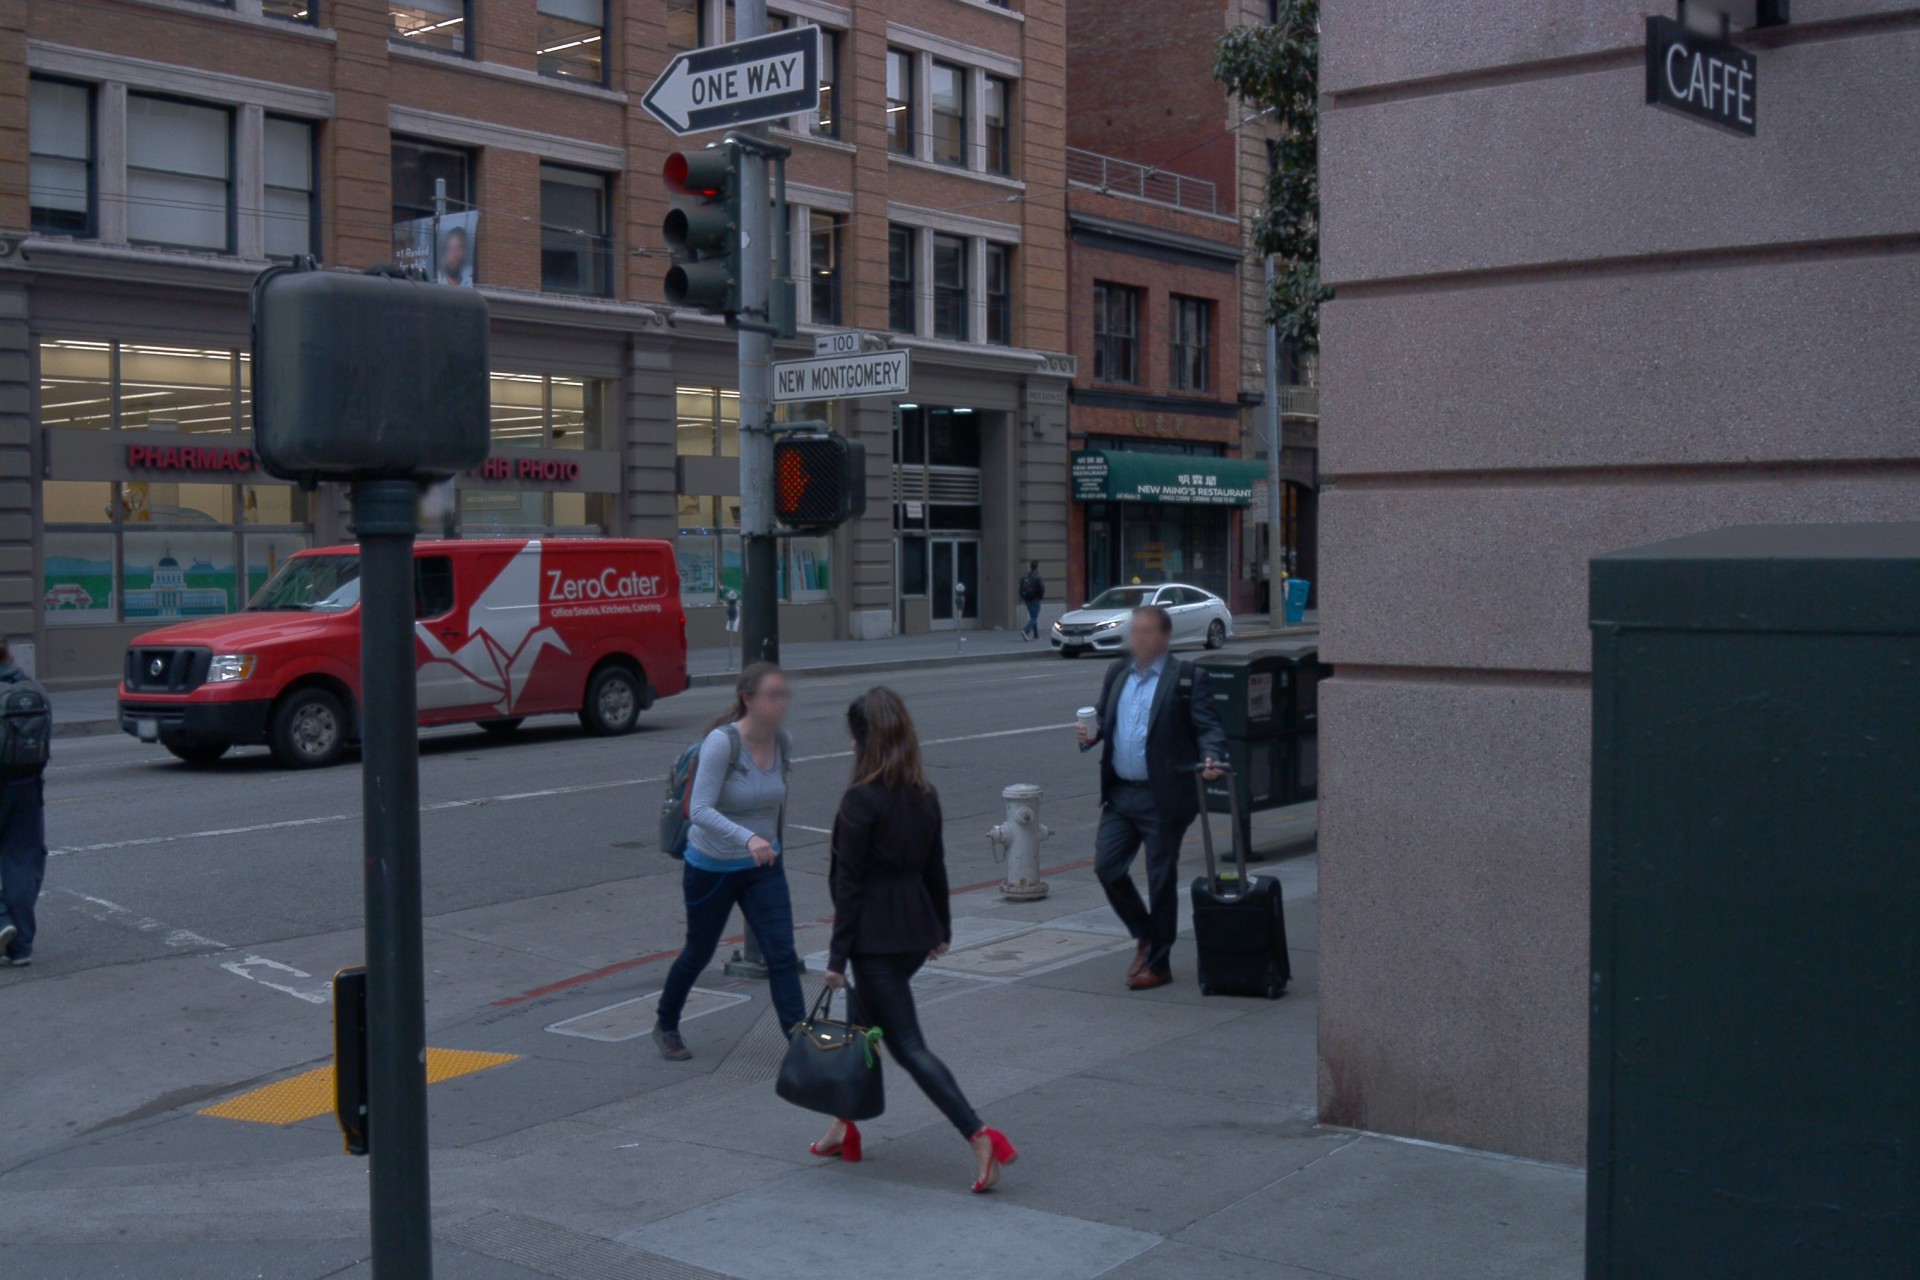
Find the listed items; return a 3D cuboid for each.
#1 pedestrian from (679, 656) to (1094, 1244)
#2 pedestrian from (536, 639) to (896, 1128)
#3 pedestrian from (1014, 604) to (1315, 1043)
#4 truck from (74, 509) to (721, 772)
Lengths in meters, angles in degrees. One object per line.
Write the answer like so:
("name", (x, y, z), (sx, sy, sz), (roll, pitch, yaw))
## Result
("pedestrian", (-0.236, 0.916, 6.691), (1.093, 1.710, 0.782), (0, 1, 33))
("pedestrian", (-0.967, 0.884, 8.195), (1.086, 1.765, 0.922), (1, 1, 41))
("pedestrian", (0.944, 0.773, 9.461), (0.858, 1.860, 1.120), (1, 1, 44))
("truck", (-5.377, -0.029, 20.725), (2.356, 2.240, 6.072), (0, 1, 37))
